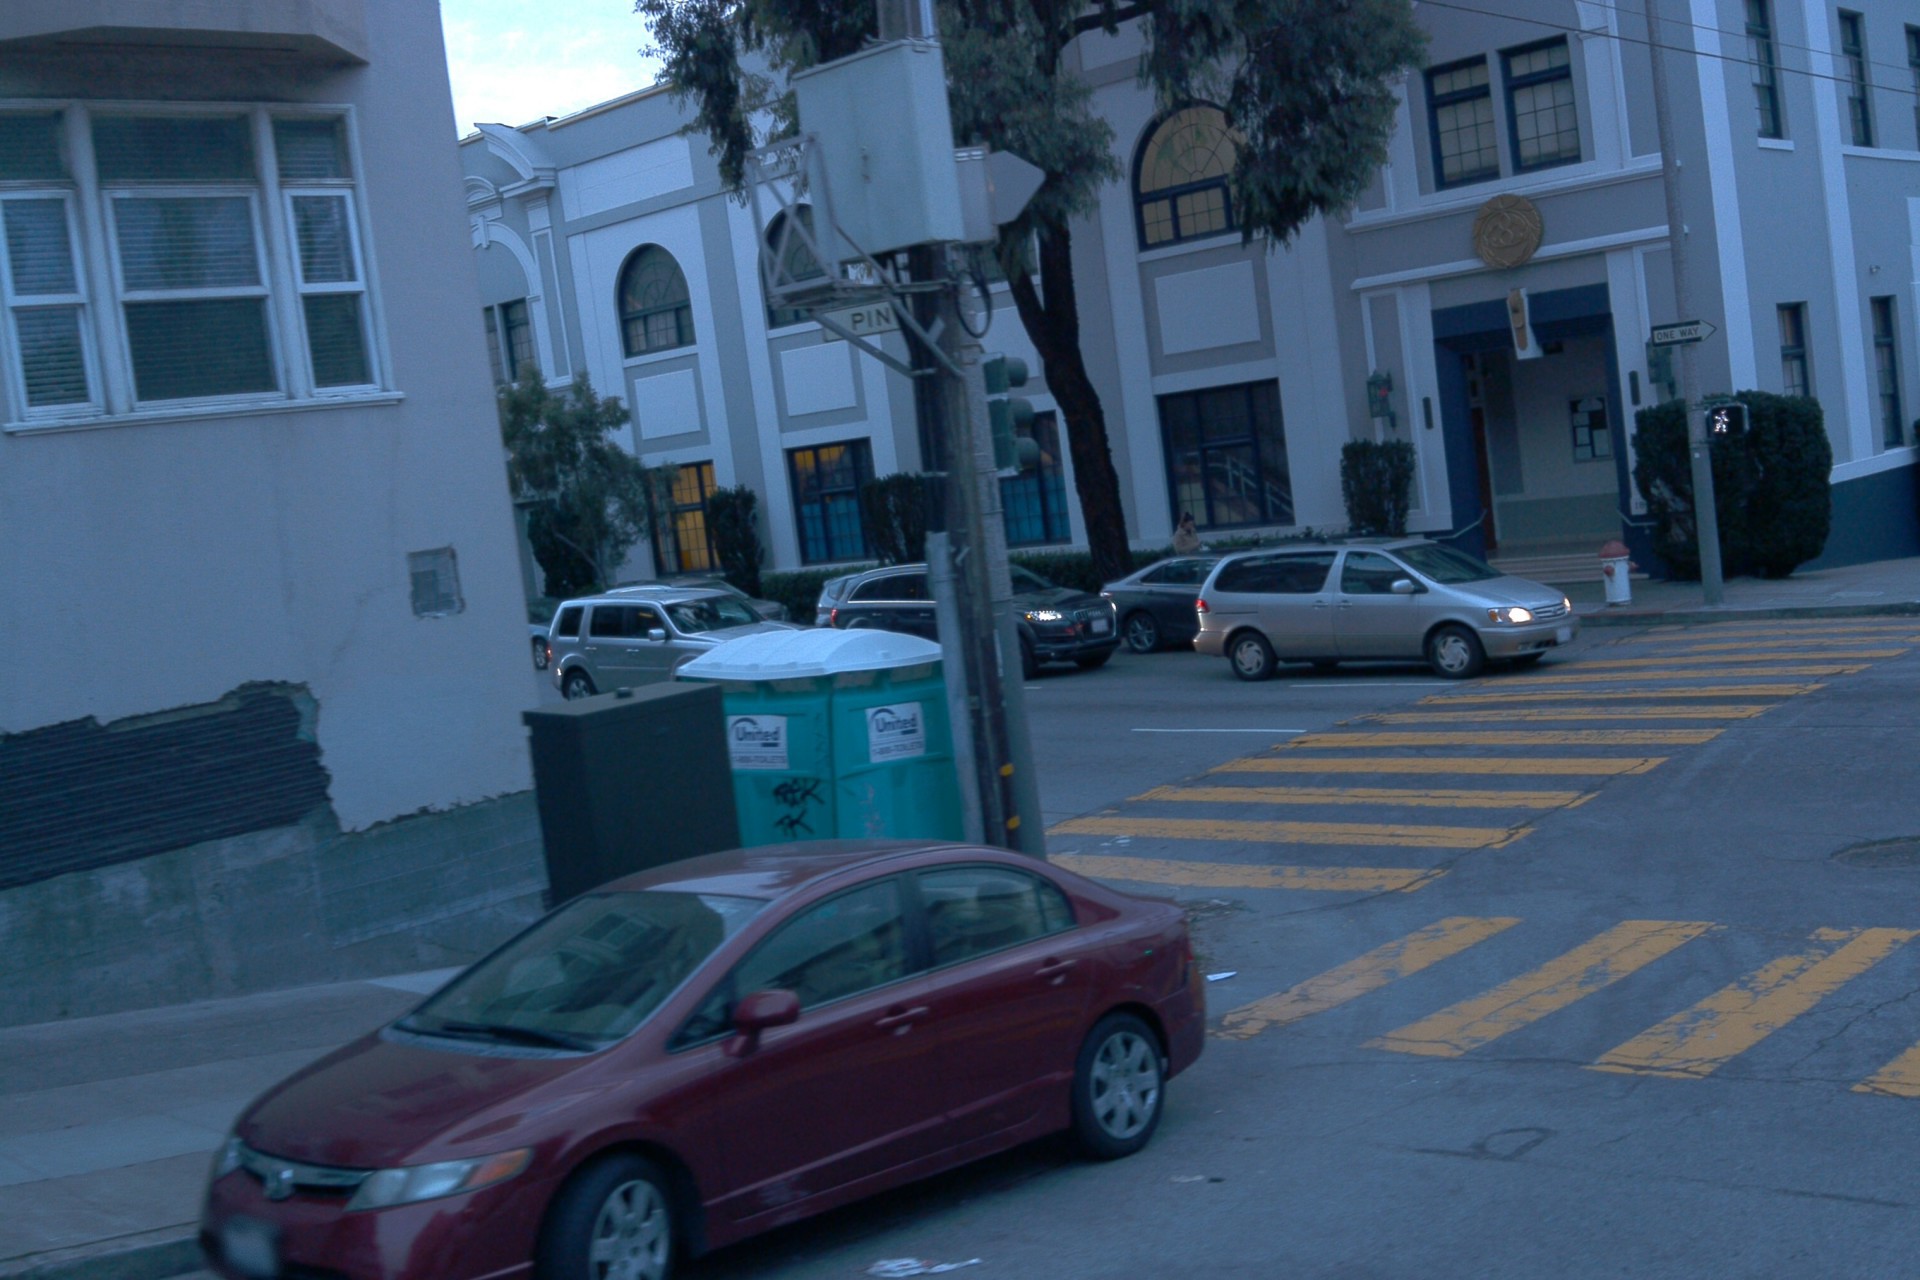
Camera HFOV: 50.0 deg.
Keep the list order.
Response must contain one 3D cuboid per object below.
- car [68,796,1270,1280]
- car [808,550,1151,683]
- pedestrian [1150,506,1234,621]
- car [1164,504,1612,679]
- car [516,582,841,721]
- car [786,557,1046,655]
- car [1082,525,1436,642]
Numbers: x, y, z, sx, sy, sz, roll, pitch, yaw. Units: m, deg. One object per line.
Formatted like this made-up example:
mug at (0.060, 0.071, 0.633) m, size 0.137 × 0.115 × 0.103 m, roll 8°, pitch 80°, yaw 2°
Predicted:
car at (-0.878, 1.650, 8.195) m, size 1.985 × 1.660 × 4.493 m, roll 1°, pitch 1°, yaw 43°
car at (0.214, -0.369, 30.697) m, size 2.228 × 1.820 × 4.978 m, roll 0°, pitch 1°, yaw -45°
pedestrian at (3.924, -1.281, 34.727) m, size 1.087 × 1.903 × 0.865 m, roll 1°, pitch 1°, yaw 43°
car at (5.195, -0.586, 25.468) m, size 4.978 × 1.950 × 2.238 m, roll 1°, pitch 1°, yaw 44°
car at (-4.253, 0.116, 30.625) m, size 4.735 × 1.900 × 2.269 m, roll 1°, pitch 1°, yaw 42°
car at (-0.818, -0.588, 35.796) m, size 4.302 × 1.600 × 2.115 m, roll 1°, pitch 1°, yaw 45°
car at (4.398, -0.821, 30.822) m, size 4.891 × 1.610 × 2.152 m, roll 1°, pitch 1°, yaw 44°
